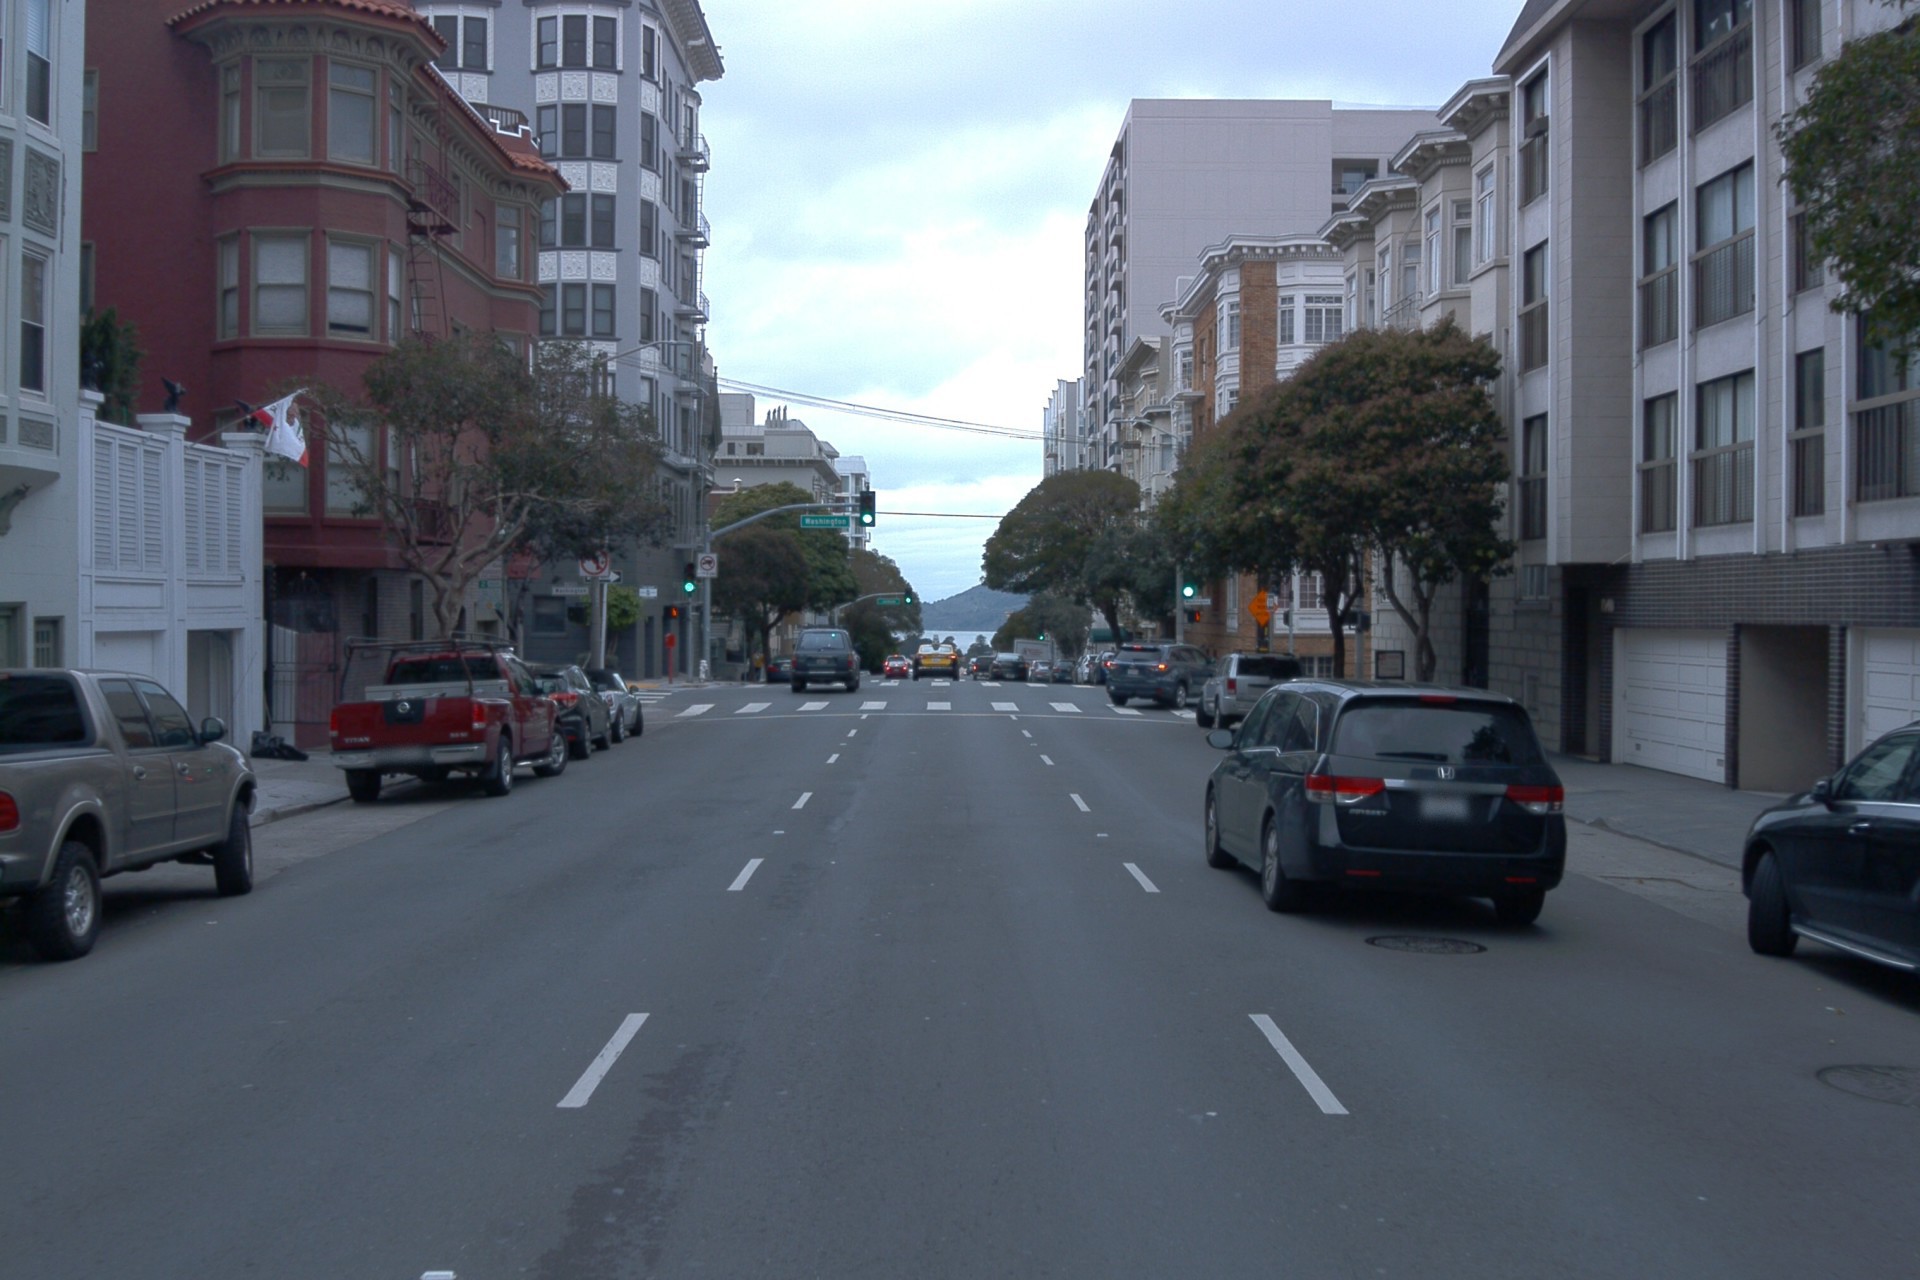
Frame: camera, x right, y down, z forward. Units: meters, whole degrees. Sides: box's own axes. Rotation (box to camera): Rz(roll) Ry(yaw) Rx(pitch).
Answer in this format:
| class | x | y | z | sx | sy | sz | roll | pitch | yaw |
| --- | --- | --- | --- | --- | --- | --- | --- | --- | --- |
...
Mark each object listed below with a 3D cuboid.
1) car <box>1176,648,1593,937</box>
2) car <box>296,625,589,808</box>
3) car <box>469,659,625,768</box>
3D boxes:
| class | x | y | z | sx | sy | sz | roll | pitch | yaw |
| --- | --- | --- | --- | --- | --- | --- | --- | --- | --- |
| car | 3.134 | 1.040 | 16.341 | 2.200 | 1.890 | 4.938 | 0 | 1 | -1 |
| car | -6.835 | 0.909 | 27.904 | 2.443 | 2.200 | 5.899 | 0 | 1 | 0 |
| car | -6.951 | 1.188 | 34.942 | 1.870 | 1.650 | 4.499 | 0 | 1 | -2 |
